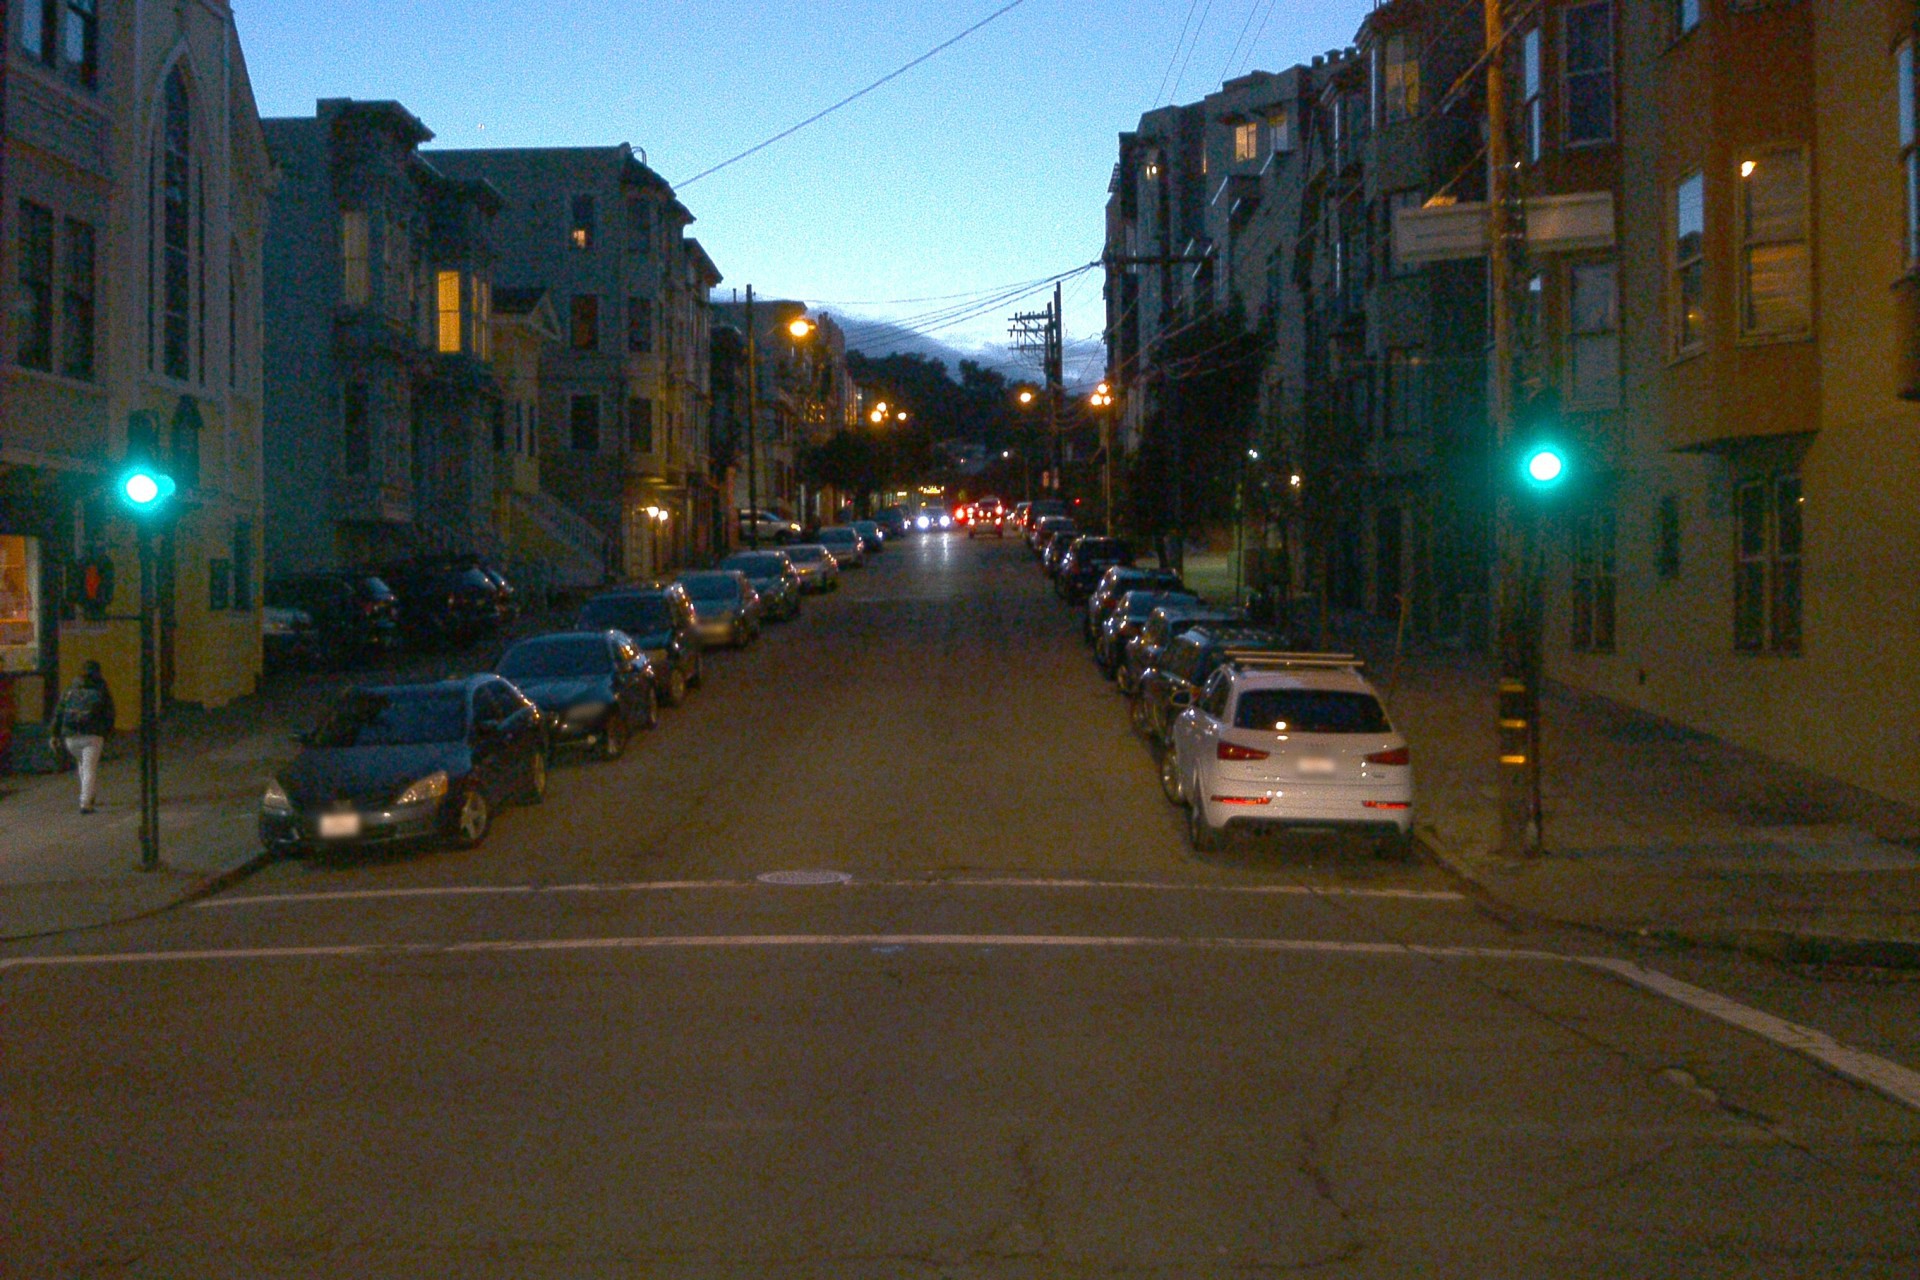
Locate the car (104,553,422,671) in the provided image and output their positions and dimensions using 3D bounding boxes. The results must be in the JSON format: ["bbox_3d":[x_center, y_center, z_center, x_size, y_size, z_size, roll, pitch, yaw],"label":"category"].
[{"bbox_3d":[-12.029,-0.490,35.769,4.781,1.960,2.239,0,1,-1],"label":"car"}]

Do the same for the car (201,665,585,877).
[{"bbox_3d":[-5.192,1.129,19.650,2.208,1.630,4.905,0,1,1],"label":"car"}]

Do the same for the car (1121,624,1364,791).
[{"bbox_3d":[3.155,0.690,24.007,2.060,1.700,4.832,0,1,-1],"label":"car"}]

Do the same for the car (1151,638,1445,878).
[{"bbox_3d":[2.961,0.965,18.983,2.081,1.878,4.447,0,1,2],"label":"car"}]

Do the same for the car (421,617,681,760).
[{"bbox_3d":[-4.983,0.525,25.825,2.269,1.580,4.960,0,1,0],"label":"car"}]

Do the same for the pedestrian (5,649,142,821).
[{"bbox_3d":[-8.760,0.923,20.355,0.923,1.640,0.887,0,1,5],"label":"pedestrian"}]

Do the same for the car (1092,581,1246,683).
[{"bbox_3d":[3.358,-0.158,33.911,2.165,1.550,4.681,0,1,2],"label":"car"}]

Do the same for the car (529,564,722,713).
[{"bbox_3d":[-4.958,-0.059,31.125,2.128,2.080,4.426,0,1,1],"label":"car"}]

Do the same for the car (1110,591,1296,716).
[{"bbox_3d":[3.342,0.143,29.194,2.059,1.630,4.559,0,1,0],"label":"car"}]
